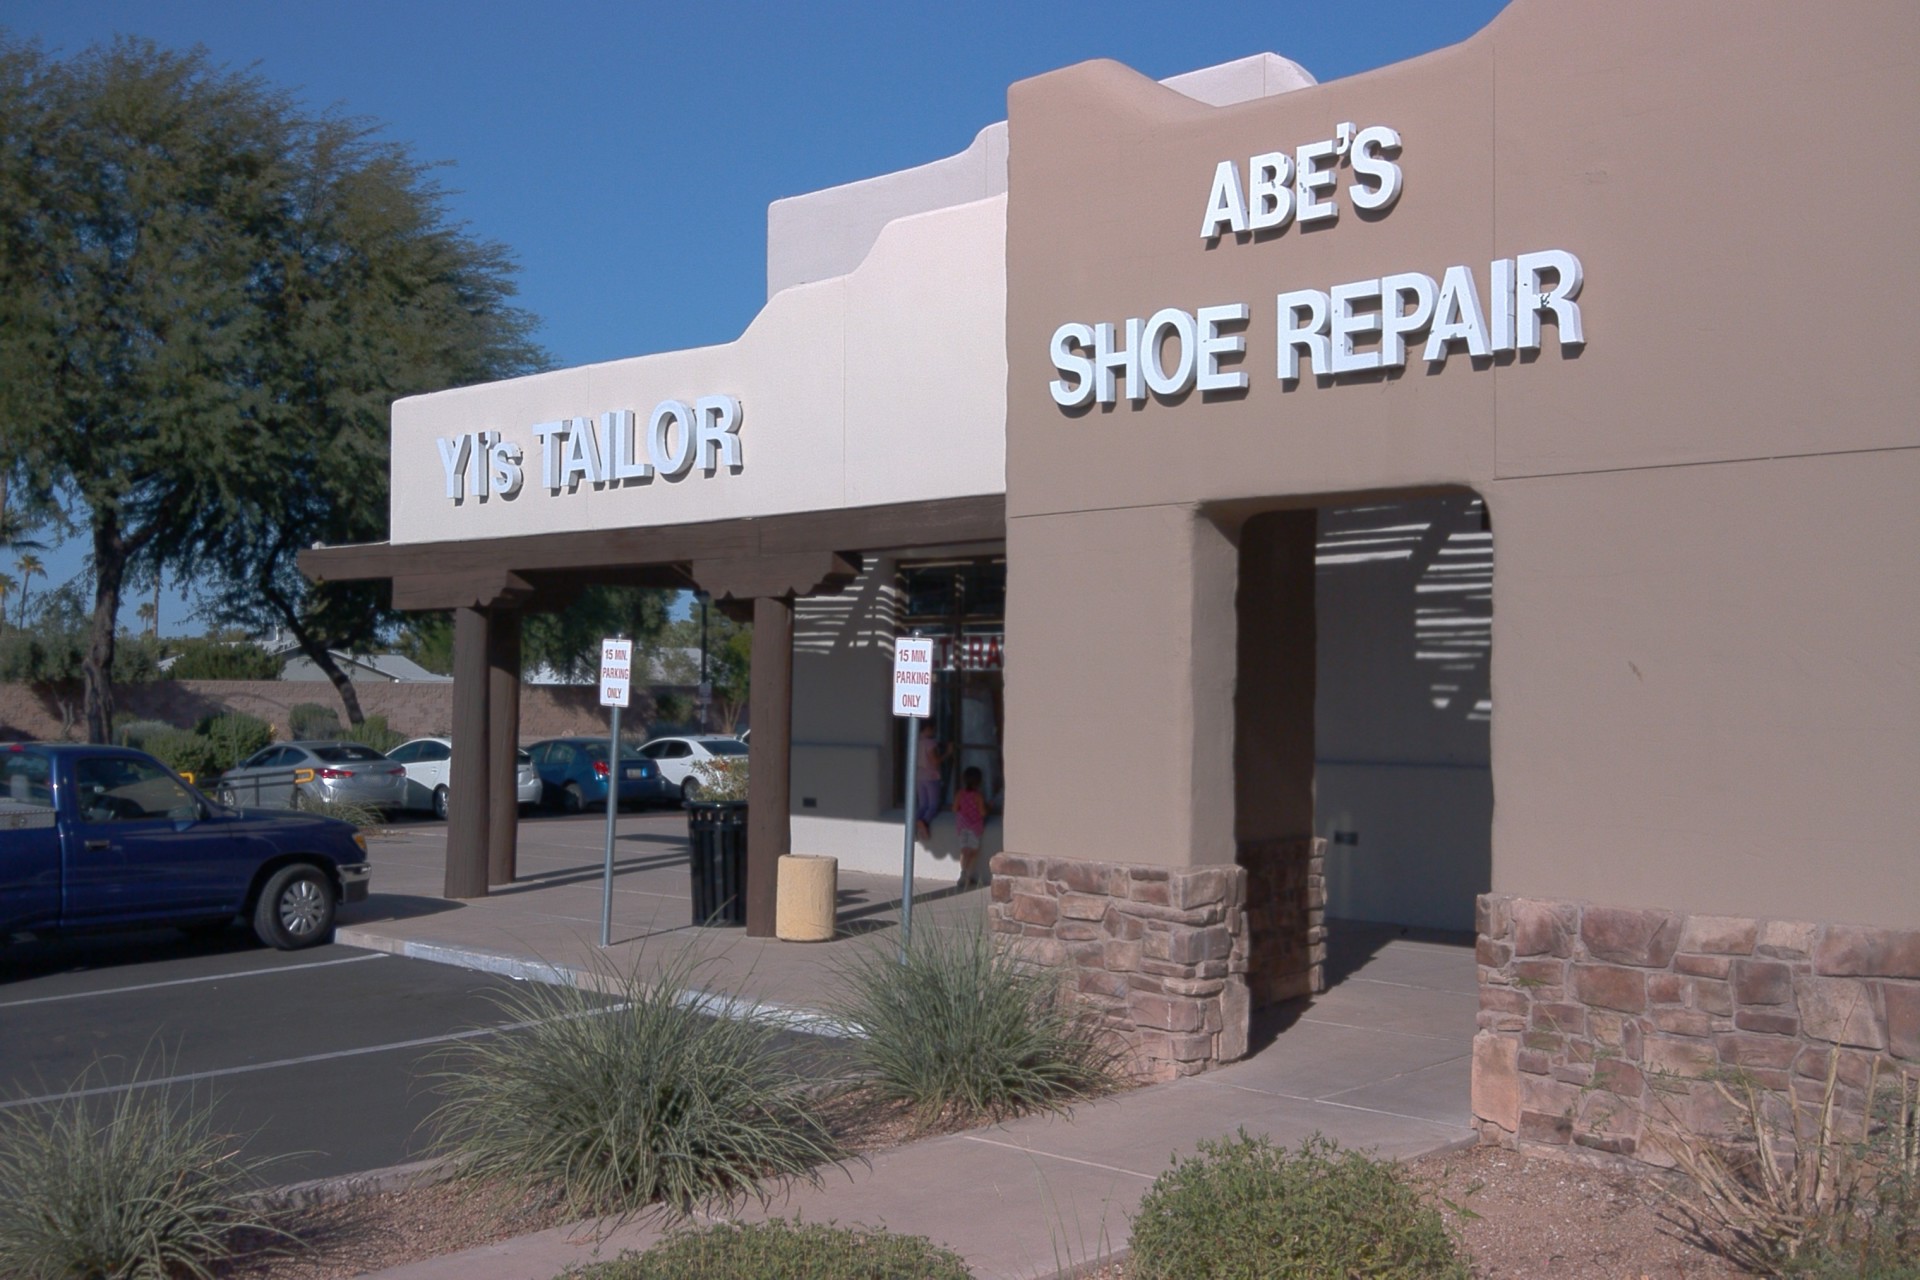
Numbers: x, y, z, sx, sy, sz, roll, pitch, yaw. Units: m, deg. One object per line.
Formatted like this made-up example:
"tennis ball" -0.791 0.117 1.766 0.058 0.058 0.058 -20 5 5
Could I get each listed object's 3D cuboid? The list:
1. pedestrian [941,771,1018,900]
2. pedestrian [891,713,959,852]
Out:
"pedestrian" 0.177 1.744 18.655 0.521 1.100 0.442 -1 0 -44
"pedestrian" -0.323 1.316 19.340 0.466 1.250 0.418 -1 0 -44
